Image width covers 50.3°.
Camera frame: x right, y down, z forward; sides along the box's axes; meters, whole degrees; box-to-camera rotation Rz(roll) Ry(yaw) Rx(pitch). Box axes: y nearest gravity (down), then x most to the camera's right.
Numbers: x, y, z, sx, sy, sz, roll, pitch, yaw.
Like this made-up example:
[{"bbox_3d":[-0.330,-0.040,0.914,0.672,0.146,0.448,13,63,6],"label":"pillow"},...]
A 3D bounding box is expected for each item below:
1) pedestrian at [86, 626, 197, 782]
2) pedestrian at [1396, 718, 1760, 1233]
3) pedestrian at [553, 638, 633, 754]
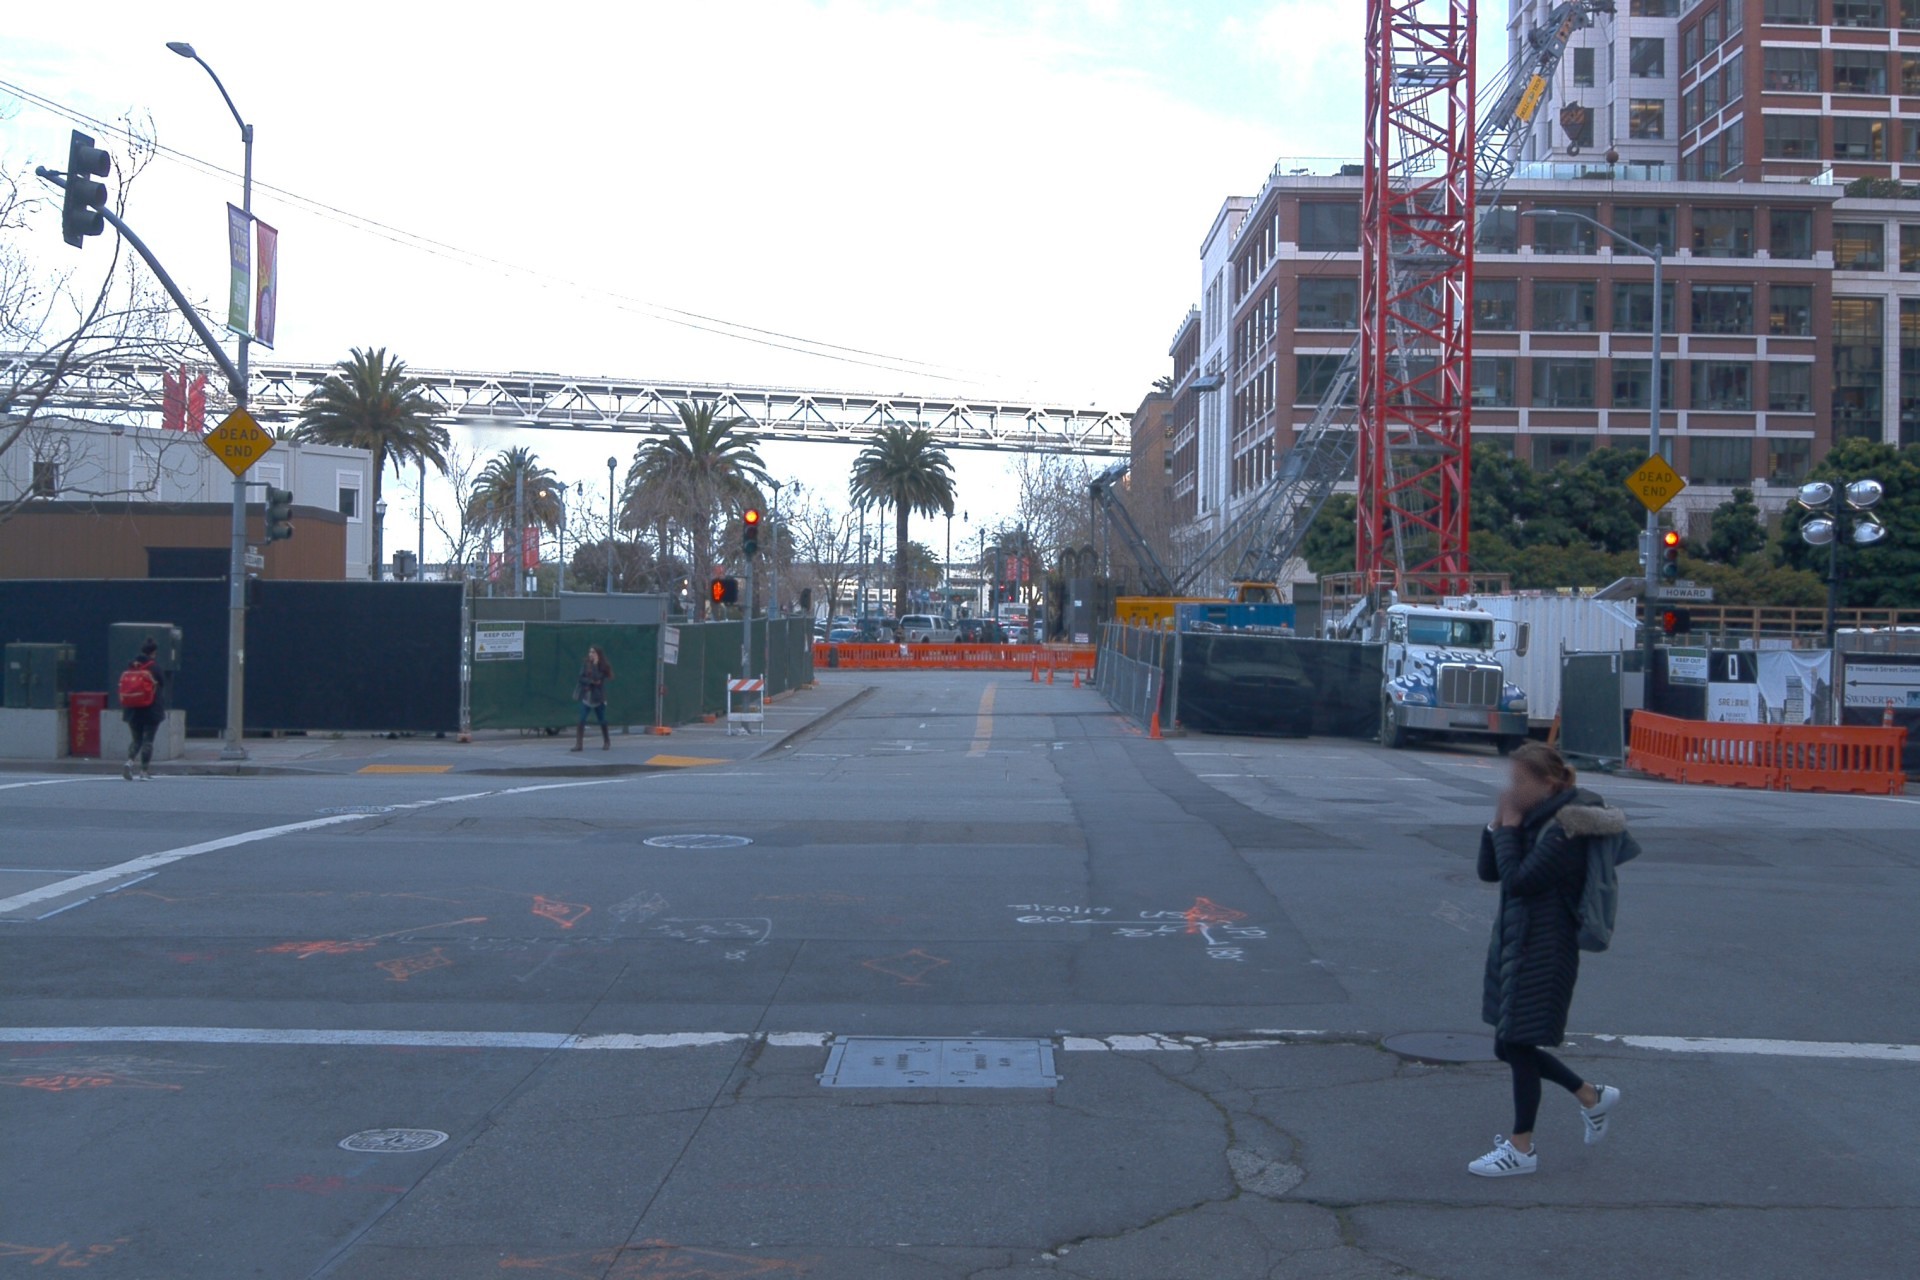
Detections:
[{"bbox_3d":[-9.489,0.723,23.735,0.770,1.760,1.198,1,0,2],"label":"pedestrian"},{"bbox_3d":[2.315,1.223,7.765,1.087,1.810,0.806,0,0,-4],"label":"pedestrian"},{"bbox_3d":[-5.607,0.838,31.265,0.848,1.720,1.092,1,0,12],"label":"pedestrian"}]
